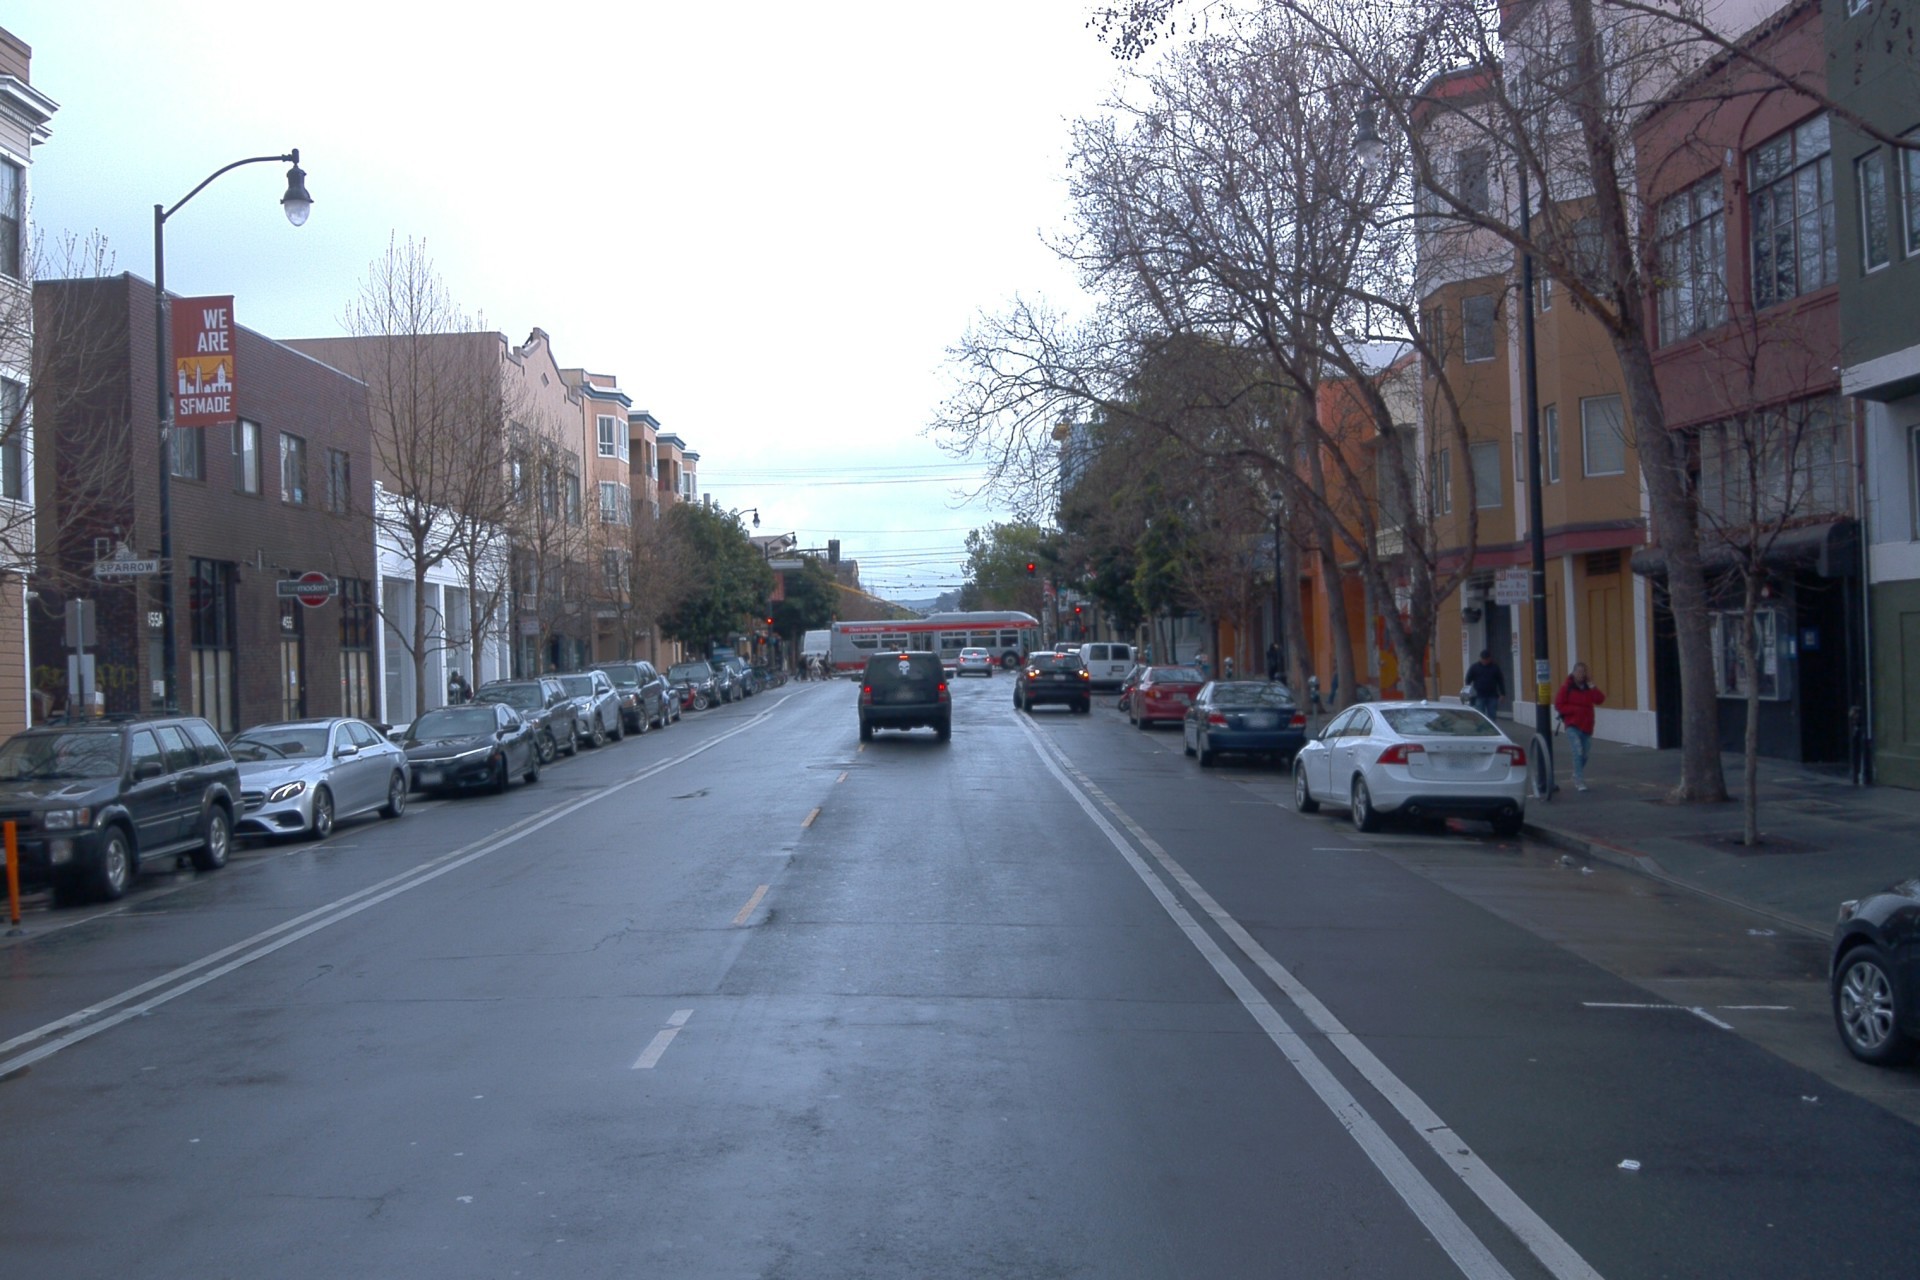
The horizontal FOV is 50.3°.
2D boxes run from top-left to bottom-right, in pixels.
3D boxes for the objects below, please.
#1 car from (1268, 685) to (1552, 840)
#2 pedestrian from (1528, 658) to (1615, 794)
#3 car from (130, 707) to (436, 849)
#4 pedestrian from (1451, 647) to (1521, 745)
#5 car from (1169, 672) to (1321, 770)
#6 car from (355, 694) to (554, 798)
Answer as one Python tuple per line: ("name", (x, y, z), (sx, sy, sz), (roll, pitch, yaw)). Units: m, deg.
("car", (5.219, 1.376, 24.421), (2.080, 1.530, 4.659), (0, 0, -4))
("pedestrian", (7.919, 1.098, 26.509), (0.856, 1.707, 1.009), (1, 0, 4))
("car", (-8.559, 1.695, 26.396), (2.144, 1.460, 4.947), (1, 0, 2))
("pedestrian", (9.262, 0.968, 36.010), (0.974, 1.680, 1.055), (1, 0, 2))
("car", (4.945, 1.373, 36.143), (2.022, 1.490, 4.839), (1, 0, 0))
("car", (-7.996, 1.644, 32.820), (2.104, 1.390, 4.688), (0, 0, -1))
